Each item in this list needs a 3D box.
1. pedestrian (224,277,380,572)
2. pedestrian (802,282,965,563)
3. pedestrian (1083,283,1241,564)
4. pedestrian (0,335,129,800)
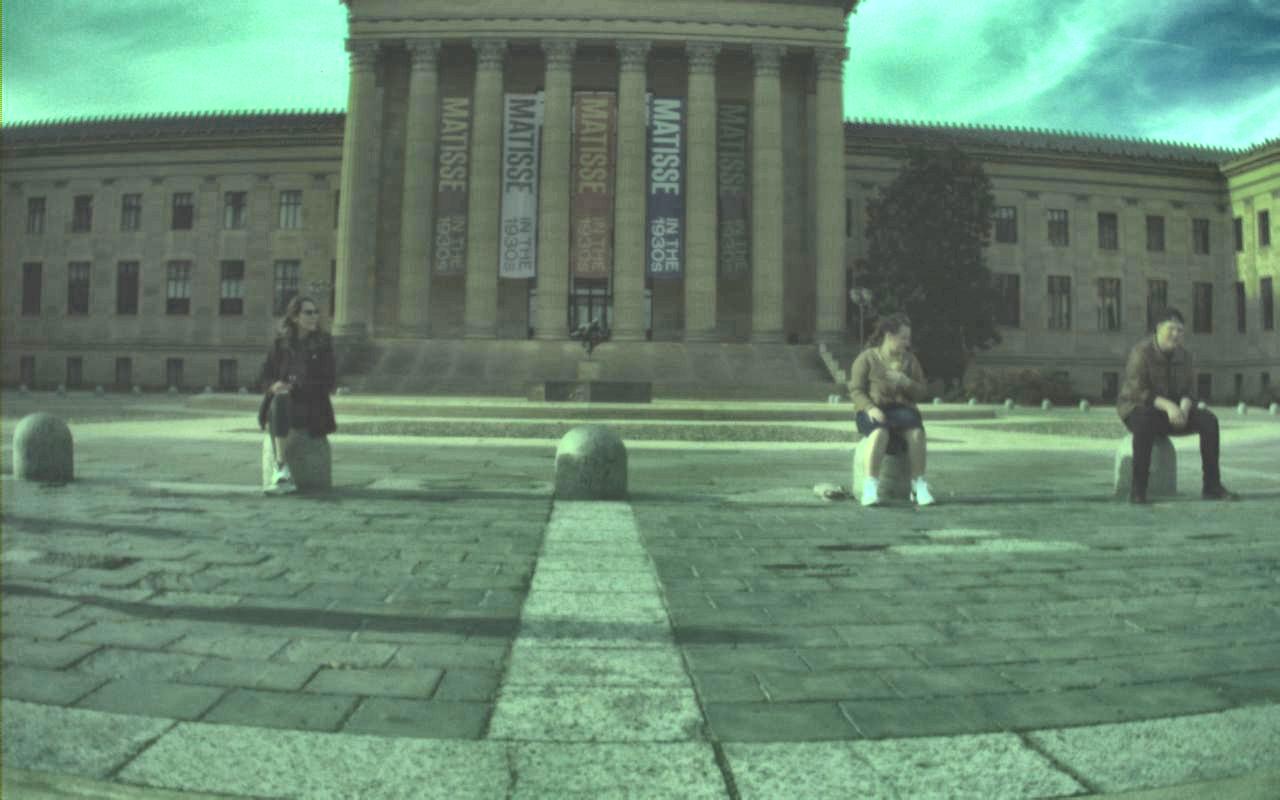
[{"bbox_3d":[-2.183,0.148,7.783,0.810,1.771,0.793,0,0,-35],"label":"pedestrian"},{"bbox_3d":[1.548,0.130,7.946,0.748,1.691,0.758,0,0,-21],"label":"pedestrian"},{"bbox_3d":[3.507,0.160,7.883,0.838,1.786,0.849,0,0,1],"label":"pedestrian"},{"bbox_3d":[-2.205,0.709,3.644,0.858,1.795,0.809,0,0,-24],"label":"pedestrian"}]
